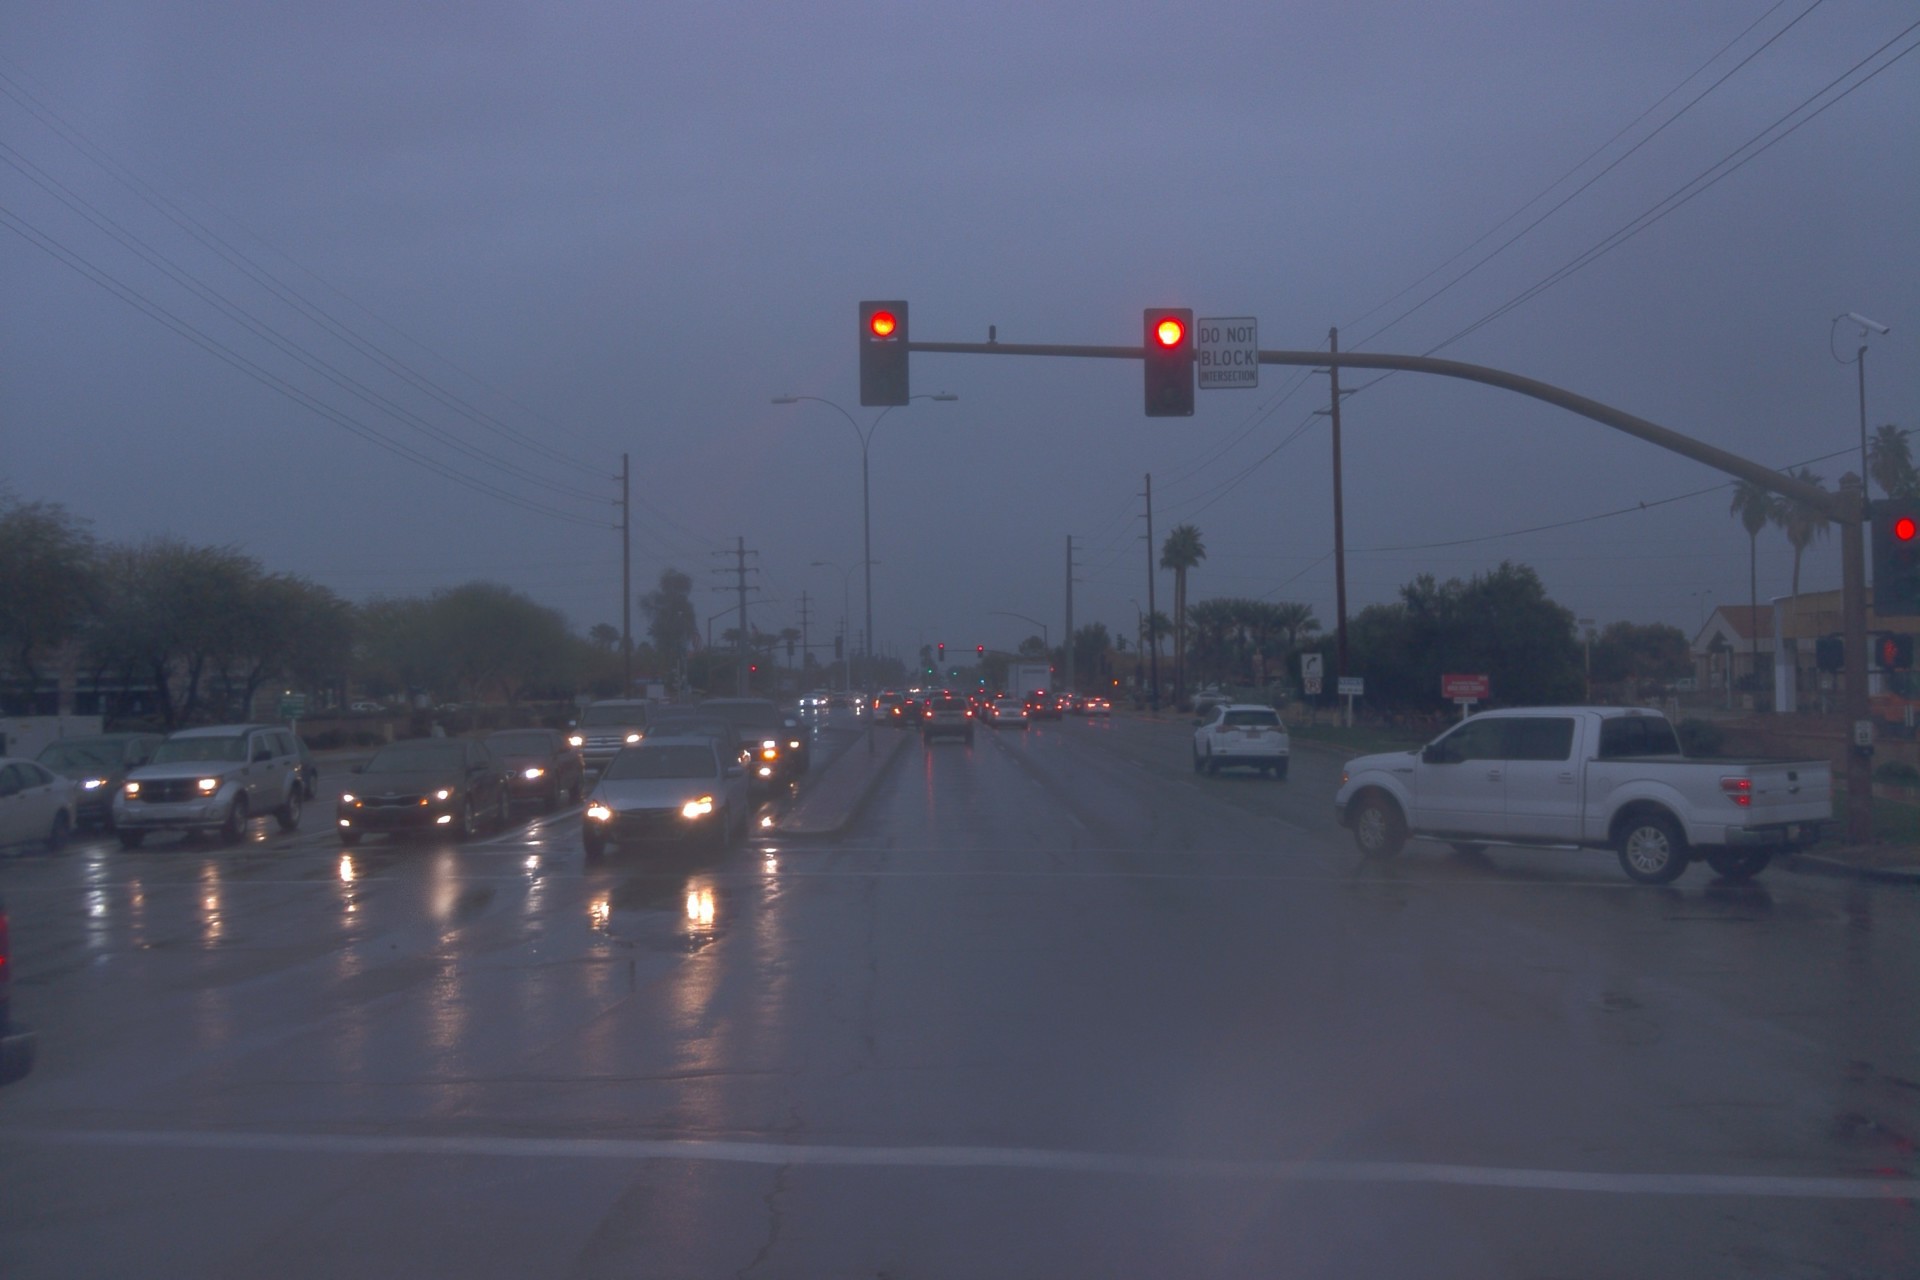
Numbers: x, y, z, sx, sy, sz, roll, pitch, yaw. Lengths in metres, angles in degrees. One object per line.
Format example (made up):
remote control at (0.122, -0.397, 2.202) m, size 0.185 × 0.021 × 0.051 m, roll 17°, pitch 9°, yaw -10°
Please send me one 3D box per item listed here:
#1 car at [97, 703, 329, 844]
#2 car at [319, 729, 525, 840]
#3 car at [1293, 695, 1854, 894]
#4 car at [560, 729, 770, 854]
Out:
car at (-11.707, 2.043, 32.894) m, size 2.052 × 2.020 × 4.497 m, roll 0°, pitch -1°, yaw 0°
car at (-8.040, 2.121, 31.497) m, size 2.042 × 1.440 × 4.763 m, roll 0°, pitch -1°, yaw -2°
car at (6.947, 1.653, 24.237) m, size 2.509 × 1.980 × 5.896 m, roll 1°, pitch -1°, yaw -38°
car at (-3.794, 1.938, 27.539) m, size 2.102 × 1.410 × 4.605 m, roll 0°, pitch -1°, yaw 1°
